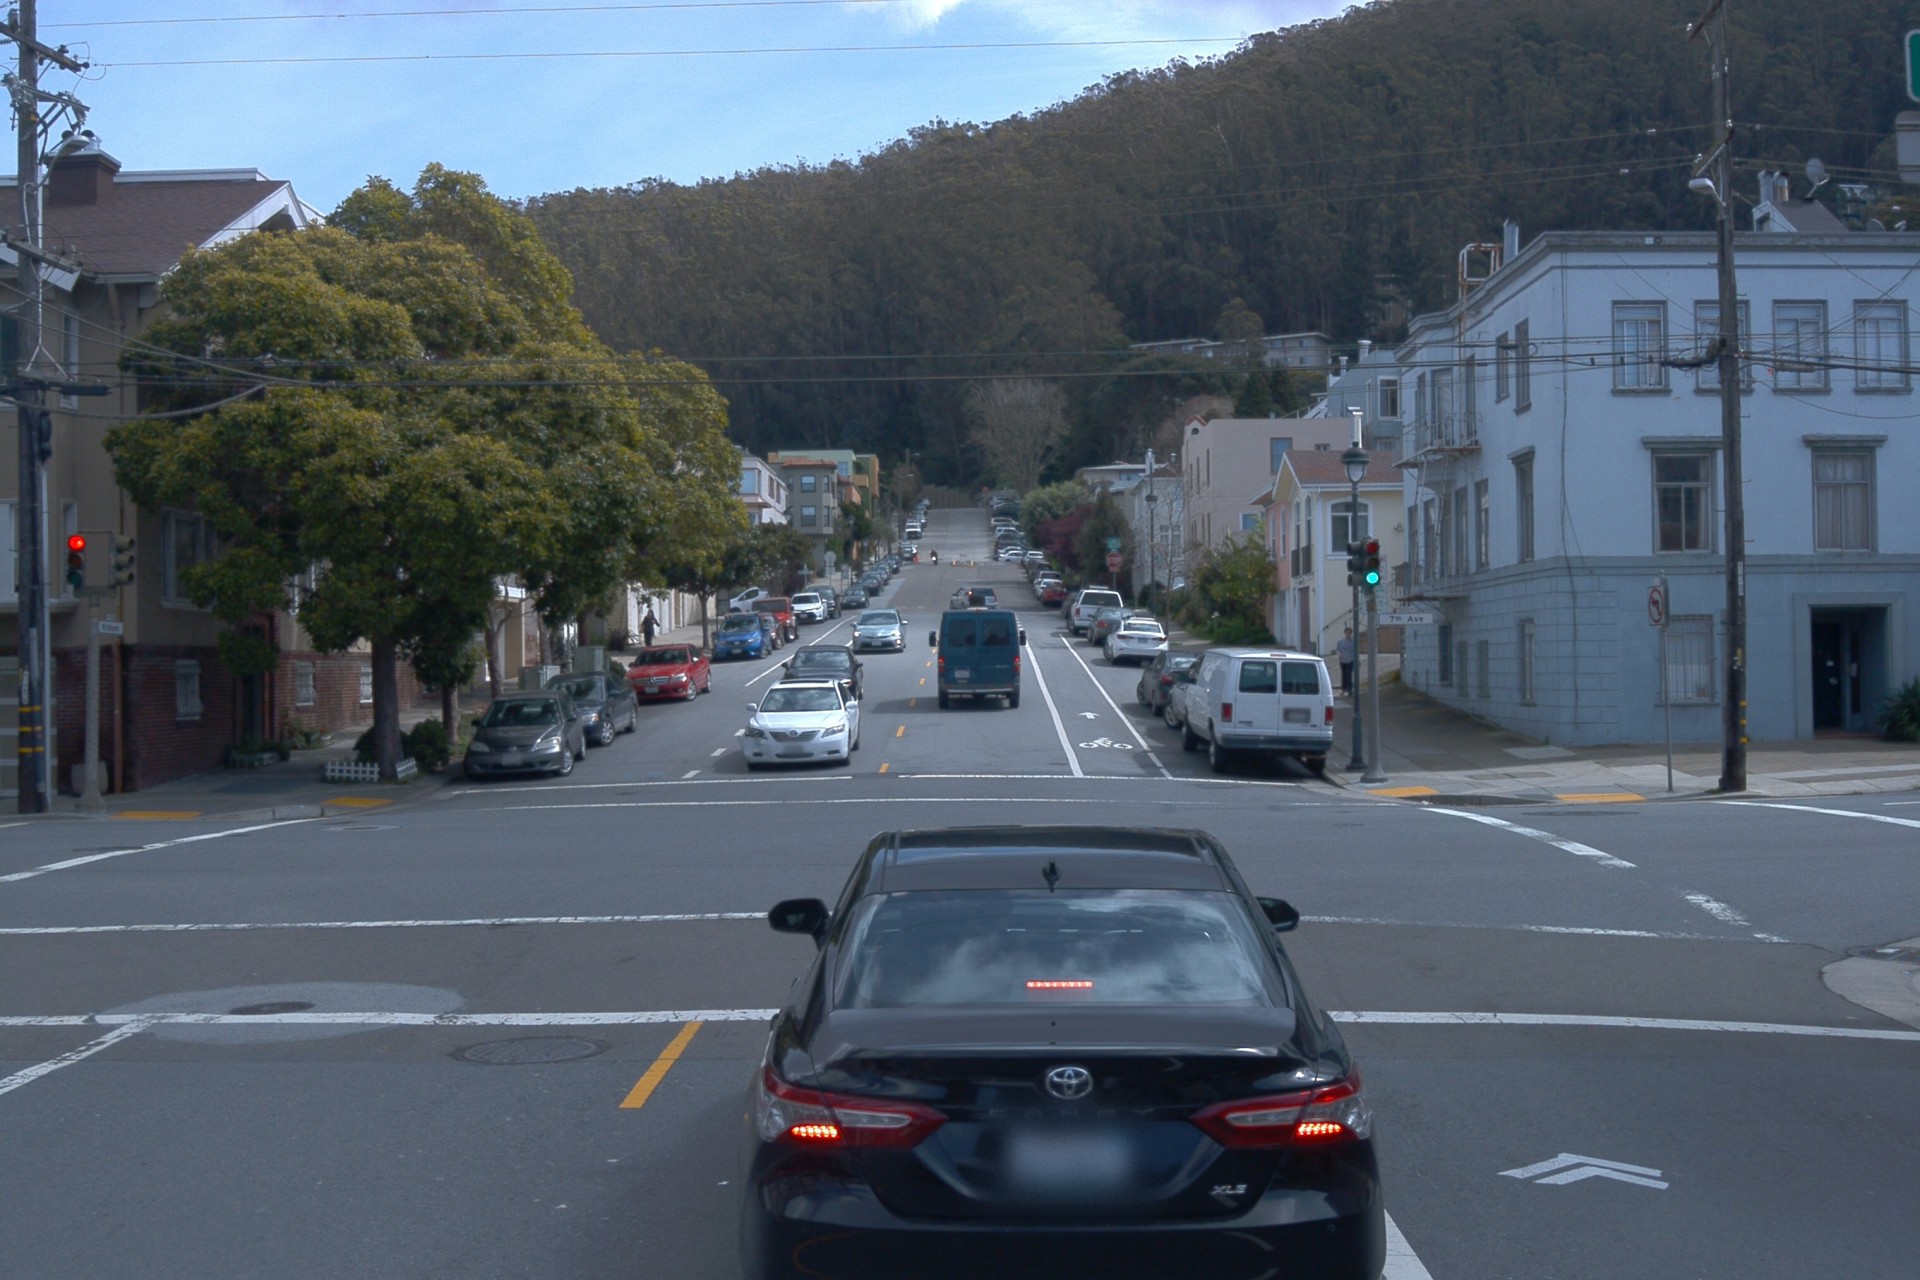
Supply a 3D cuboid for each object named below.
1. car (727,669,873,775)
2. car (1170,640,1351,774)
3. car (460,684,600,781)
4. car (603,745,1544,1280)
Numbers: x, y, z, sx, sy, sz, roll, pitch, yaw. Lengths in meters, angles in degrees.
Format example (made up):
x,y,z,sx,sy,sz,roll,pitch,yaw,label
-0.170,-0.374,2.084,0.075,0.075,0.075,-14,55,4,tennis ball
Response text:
x,y,z,sx,sy,sz,roll,pitch,yaw,label
-2.841,1.440,37.641,2.209,1.750,4.541,0,0,1,car
5.316,1.119,37.215,2.299,2.250,5.313,0,0,-2,car
-7.707,1.624,37.253,1.836,1.560,4.133,0,0,-3,car
0.281,1.306,7.325,2.249,1.620,4.798,0,0,0,car
